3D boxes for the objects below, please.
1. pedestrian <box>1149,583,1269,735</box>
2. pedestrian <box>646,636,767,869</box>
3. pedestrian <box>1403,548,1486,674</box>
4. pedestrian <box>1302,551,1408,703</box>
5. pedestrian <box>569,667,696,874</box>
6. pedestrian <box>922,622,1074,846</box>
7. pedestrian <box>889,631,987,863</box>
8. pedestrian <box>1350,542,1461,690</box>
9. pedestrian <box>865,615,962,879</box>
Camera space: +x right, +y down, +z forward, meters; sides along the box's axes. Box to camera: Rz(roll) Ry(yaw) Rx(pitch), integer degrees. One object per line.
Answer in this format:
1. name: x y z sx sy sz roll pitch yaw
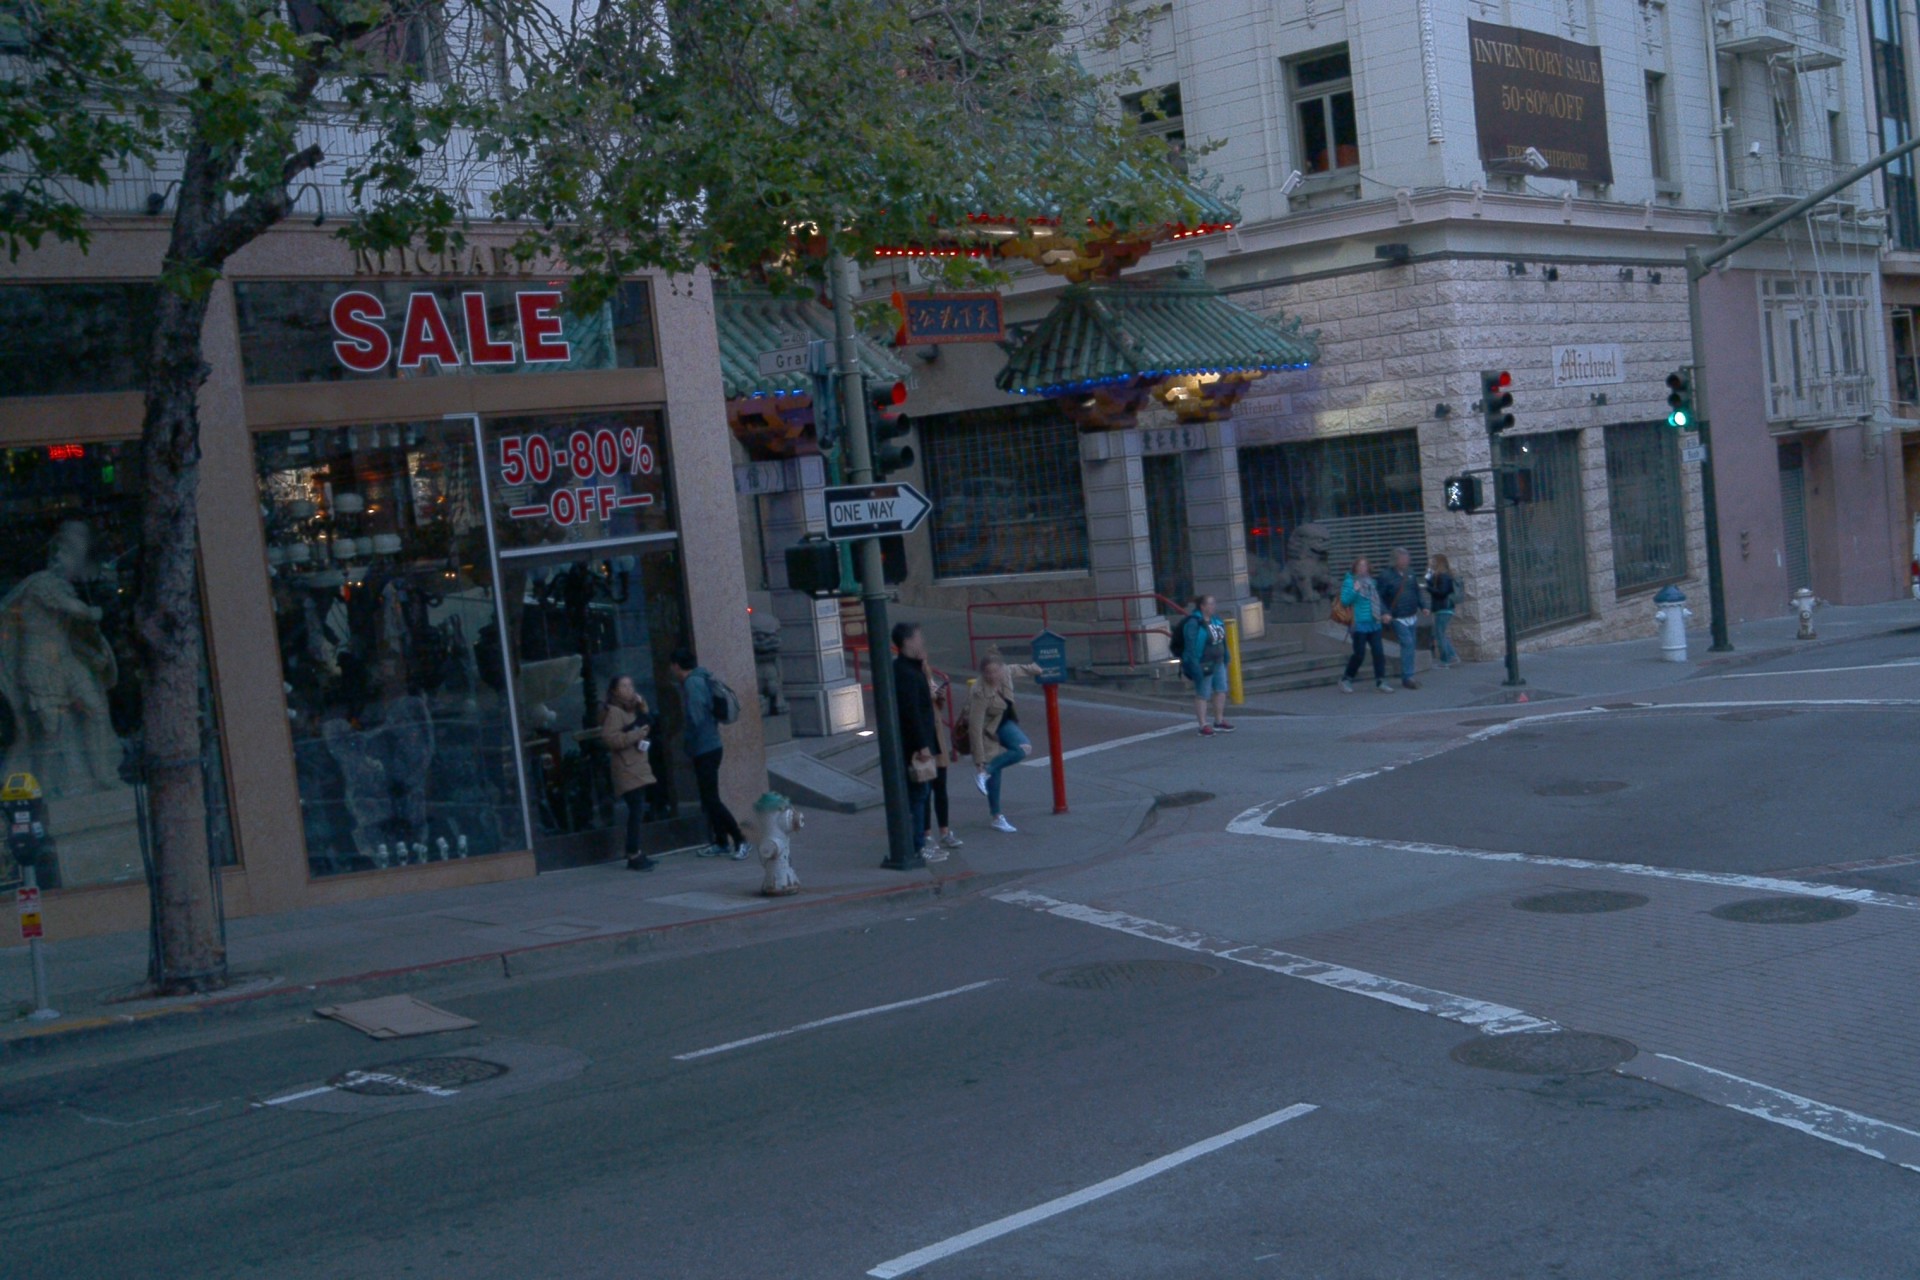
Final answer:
1. pedestrian: 2.896 0.206 23.986 0.976 1.710 0.984 -1 1 -36
2. pedestrian: -2.126 0.916 17.315 0.724 1.880 0.716 -1 1 -40
3. pedestrian: 6.493 -0.388 27.675 0.818 1.660 0.754 1 1 42
4. pedestrian: 4.940 -0.169 25.826 0.927 1.850 0.934 -1 1 -27
5. pedestrian: -2.639 1.025 16.611 0.745 1.580 0.787 -1 1 -33
6. pedestrian: 0.338 0.785 18.049 0.817 1.880 1.093 1 1 40
7. pedestrian: -0.181 0.870 17.192 0.531 1.880 0.637 0 1 37
8. pedestrian: 5.605 -0.301 26.013 0.964 1.820 1.001 0 1 -24
9. pedestrian: -0.369 0.839 16.620 0.546 2.070 0.610 0 1 27
